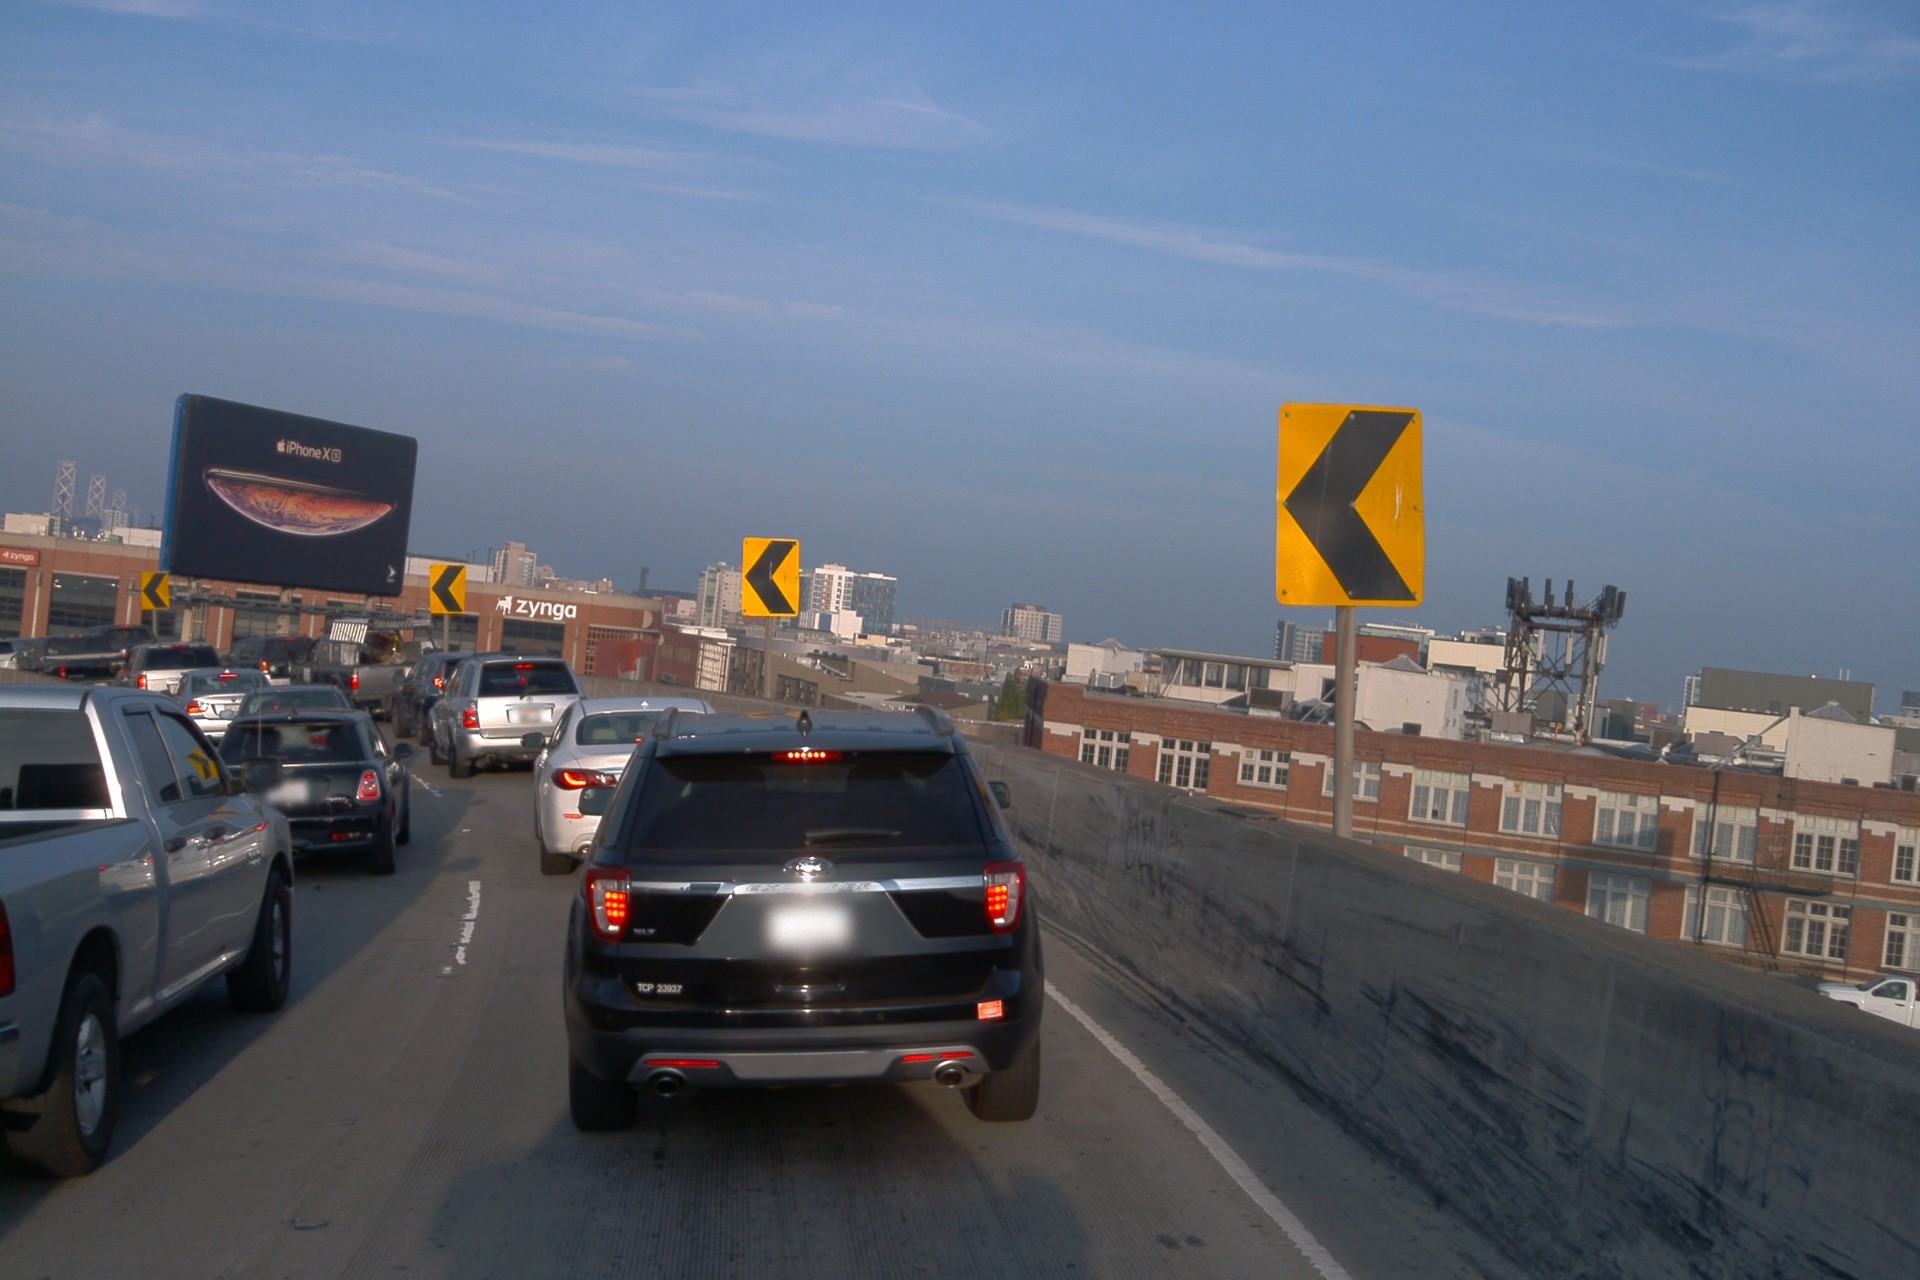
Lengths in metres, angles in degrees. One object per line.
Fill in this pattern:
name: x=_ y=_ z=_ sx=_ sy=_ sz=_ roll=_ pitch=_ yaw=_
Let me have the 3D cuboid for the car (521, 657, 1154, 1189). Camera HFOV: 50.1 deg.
car: x=-0.762 y=1.044 z=9.985 sx=2.327 sy=1.850 sz=4.877 roll=0 pitch=0 yaw=-8

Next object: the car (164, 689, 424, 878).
car: x=-6.000 y=1.225 z=18.929 sx=1.934 sy=1.411 sz=4.084 roll=0 pitch=0 yaw=-13

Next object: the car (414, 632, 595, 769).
car: x=-6.700 y=0.806 z=29.838 sx=1.992 sy=1.820 sz=4.394 roll=0 pitch=0 yaw=-20

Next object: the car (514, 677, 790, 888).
car: x=-2.970 y=1.187 z=18.927 sx=2.143 sy=1.590 sz=4.510 roll=0 pitch=0 yaw=-13

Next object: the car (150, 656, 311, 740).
car: x=-12.835 y=0.963 z=35.936 sx=2.005 sy=1.310 sz=4.887 roll=0 pitch=0 yaw=-27
